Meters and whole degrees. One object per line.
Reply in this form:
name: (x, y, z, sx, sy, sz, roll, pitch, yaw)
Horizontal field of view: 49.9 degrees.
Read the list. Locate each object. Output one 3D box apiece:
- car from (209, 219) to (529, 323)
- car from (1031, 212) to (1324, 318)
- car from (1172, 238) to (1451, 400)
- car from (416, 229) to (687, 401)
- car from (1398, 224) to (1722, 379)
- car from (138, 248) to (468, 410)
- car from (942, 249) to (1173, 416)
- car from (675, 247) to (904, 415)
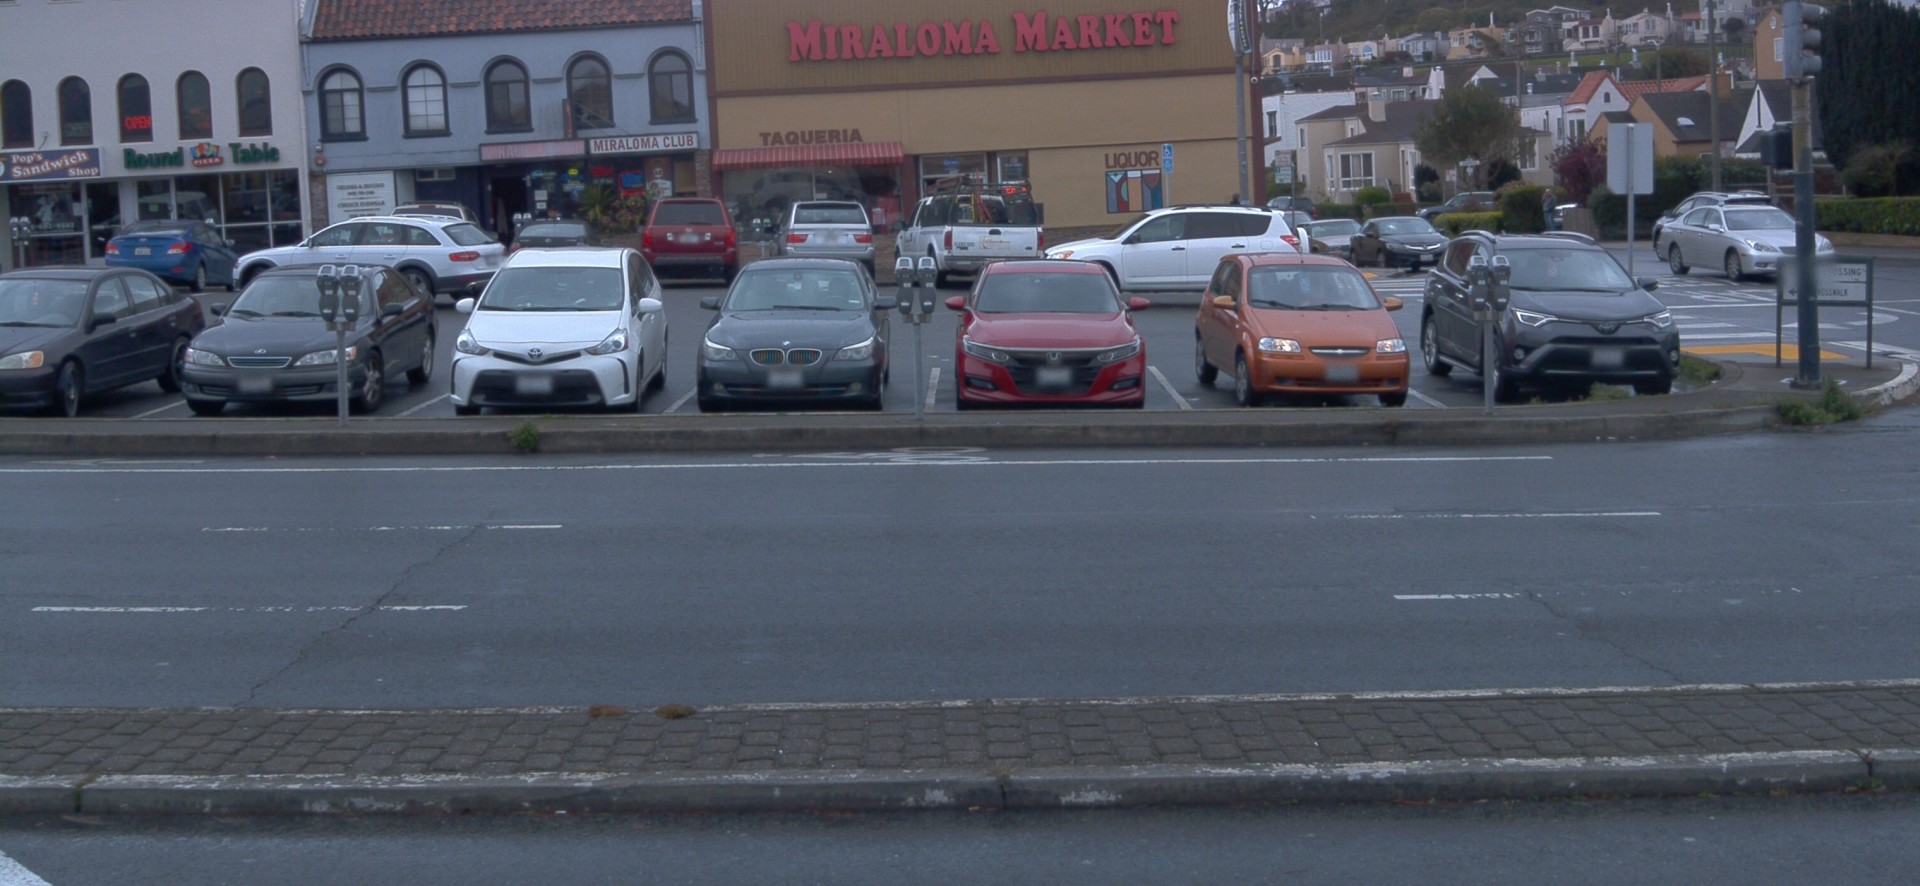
car: (-9.705, -2.875, 33.983, 4.641, 1.603, 2.086, 2, 5, 16)
car: (3.640, -3.072, 35.210, 4.742, 1.734, 2.063, 0, 4, -2)
car: (3.592, -1.395, 21.824, 2.049, 1.462, 4.037, 0, 6, -4)
car: (-4.055, -1.418, 21.285, 2.132, 1.491, 4.678, 0, 6, -4)
car: (6.385, -1.636, 22.575, 2.205, 1.461, 4.580, 0, 6, 0)
car: (-6.723, -1.292, 21.702, 2.023, 1.392, 4.712, 0, 6, -1)
car: (0.902, -1.266, 21.830, 2.185, 1.461, 4.636, 0, 6, -1)
car: (-1.662, -1.272, 21.658, 2.112, 1.461, 4.574, 0, 6, -1)
